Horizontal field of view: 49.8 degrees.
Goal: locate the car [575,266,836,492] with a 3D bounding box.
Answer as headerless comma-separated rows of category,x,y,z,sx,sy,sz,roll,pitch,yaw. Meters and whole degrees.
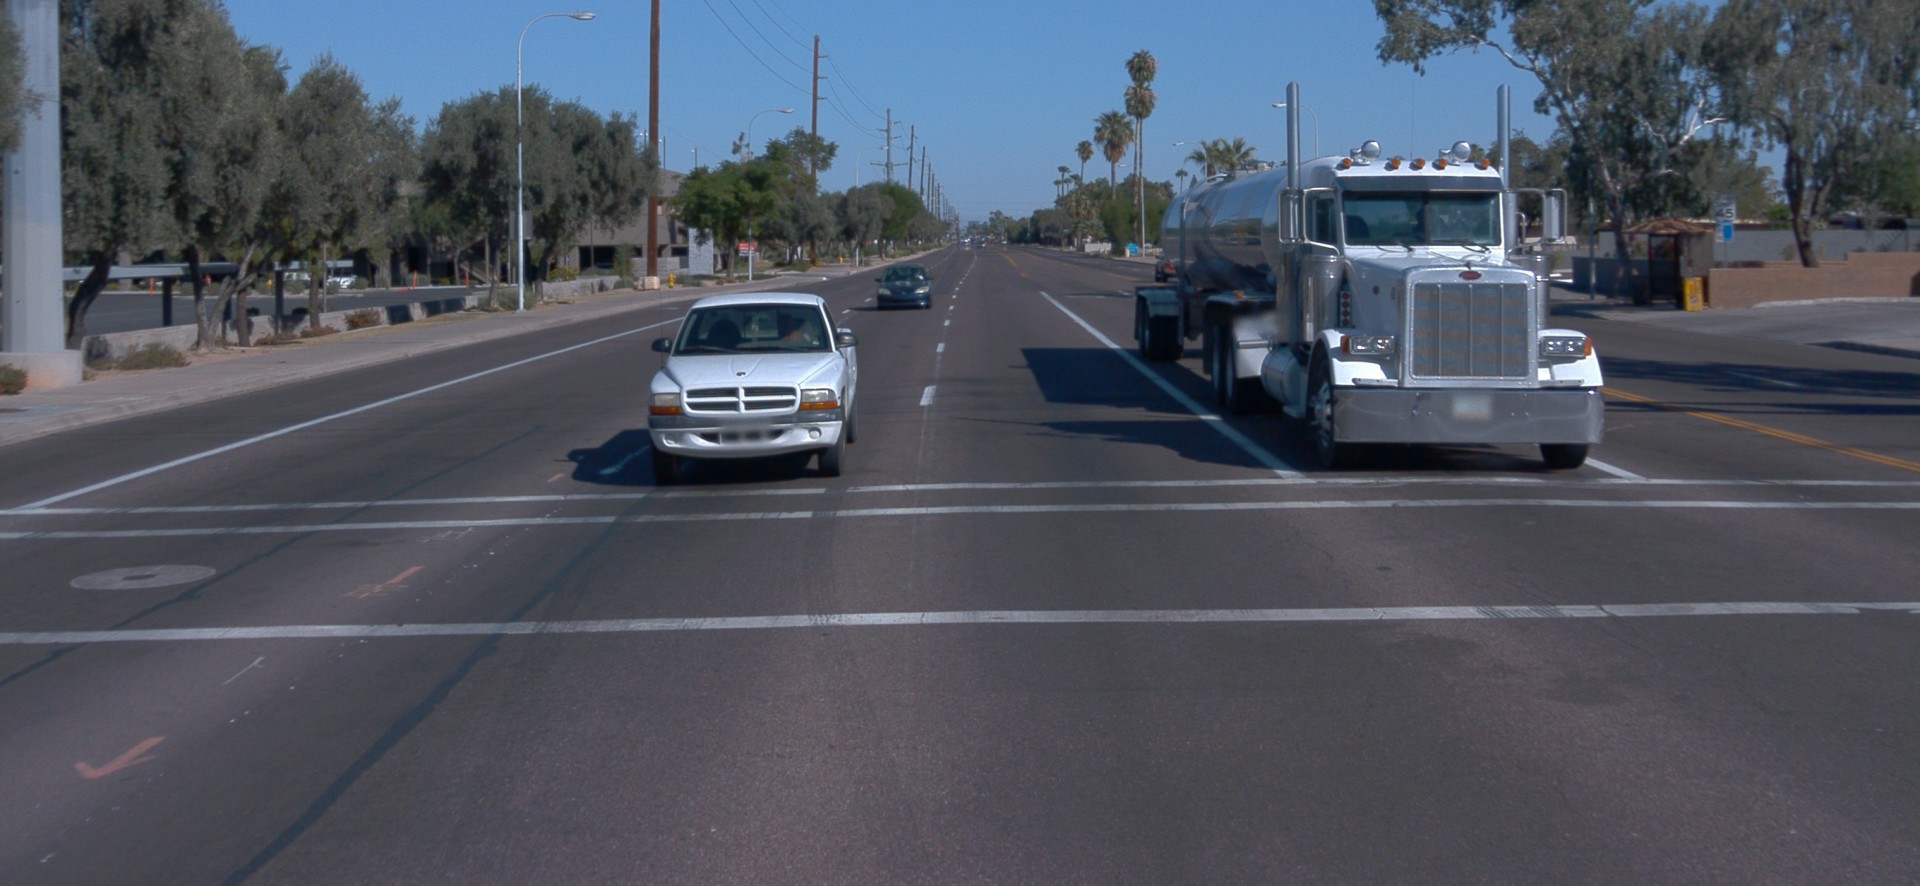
car,-2.355,-0.789,20.560,2.031,1.853,5.456,0,5,-1

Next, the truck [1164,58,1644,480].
truck,4.251,-1.937,22.116,3.152,3.597,8.717,0,5,-1

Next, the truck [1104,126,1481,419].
truck,4.267,-2.629,30.420,3.510,3.315,13.752,0,5,1
